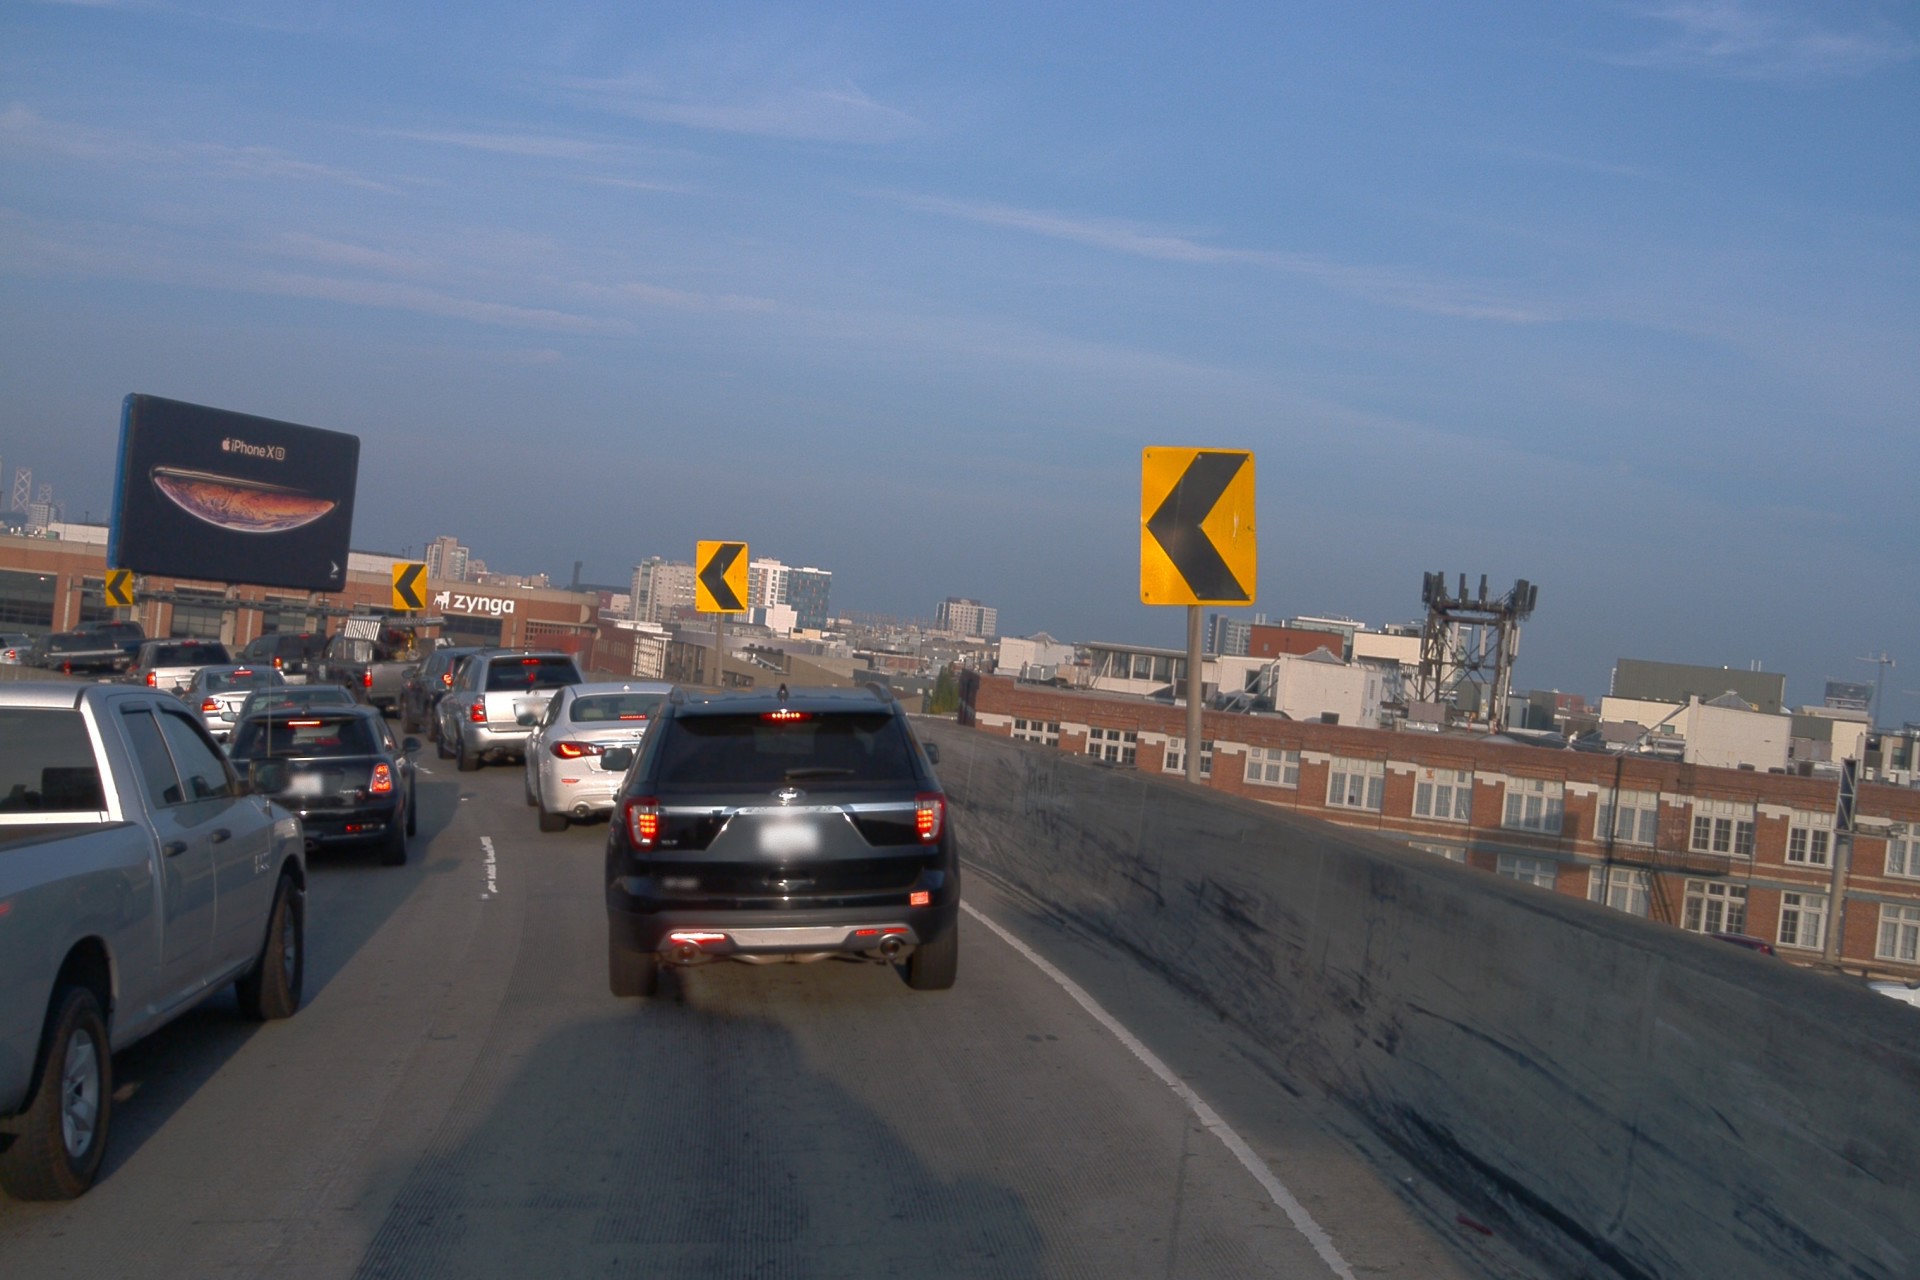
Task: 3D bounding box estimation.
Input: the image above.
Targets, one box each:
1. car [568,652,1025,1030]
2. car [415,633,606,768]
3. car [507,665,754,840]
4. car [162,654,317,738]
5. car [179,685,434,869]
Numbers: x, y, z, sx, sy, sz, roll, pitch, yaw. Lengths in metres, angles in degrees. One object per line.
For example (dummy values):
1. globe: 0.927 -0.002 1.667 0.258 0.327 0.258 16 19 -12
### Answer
1. car: -1.164 1.028 12.925 2.327 1.850 4.877 0 0 -8
2. car: -6.725 0.822 30.355 1.992 1.820 4.393 0 0 -23
3. car: -3.656 1.102 22.064 2.144 1.590 4.509 0 0 -15
4. car: -12.607 0.919 35.715 2.005 1.310 4.887 0 0 -26
5. car: -6.011 1.192 19.318 1.934 1.411 4.084 0 0 -13
